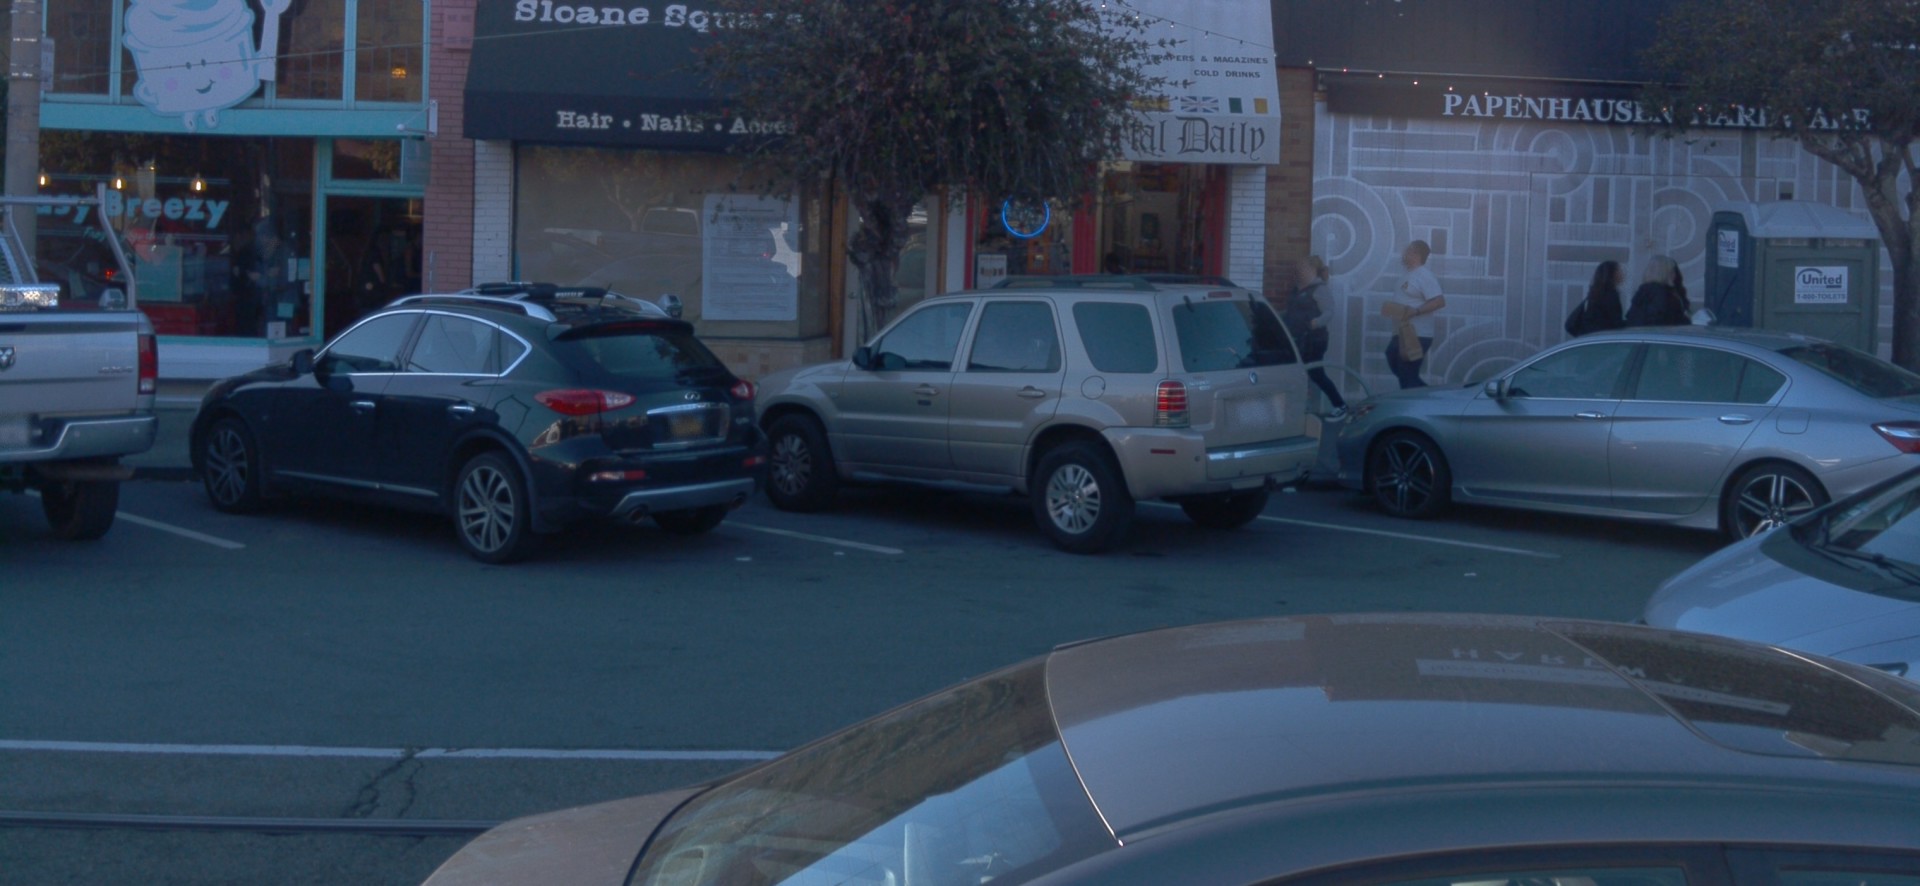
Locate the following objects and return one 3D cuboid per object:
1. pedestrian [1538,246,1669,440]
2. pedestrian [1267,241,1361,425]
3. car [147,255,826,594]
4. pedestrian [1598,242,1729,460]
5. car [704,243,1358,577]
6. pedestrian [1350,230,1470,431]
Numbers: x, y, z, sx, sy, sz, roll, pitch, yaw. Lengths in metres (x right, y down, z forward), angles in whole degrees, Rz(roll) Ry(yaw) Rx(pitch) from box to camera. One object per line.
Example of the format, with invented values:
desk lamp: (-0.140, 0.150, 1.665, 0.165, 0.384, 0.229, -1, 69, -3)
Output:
pedestrian: (5.960, -0.943, 19.275, 0.899, 1.737, 0.801, 1, 2, -6)
pedestrian: (3.373, -1.066, 19.833, 0.715, 1.707, 0.691, 1, 2, -5)
car: (-3.304, -0.307, 14.041, 4.523, 1.793, 2.116, 5, 6, 39)
pedestrian: (6.251, -0.841, 18.483, 0.771, 1.866, 0.910, 1, 2, -6)
car: (0.394, -0.404, 14.608, 4.242, 1.893, 2.078, 6, 6, 42)
pedestrian: (4.201, -1.075, 19.440, 0.736, 1.816, 0.917, 0, 2, -15)
